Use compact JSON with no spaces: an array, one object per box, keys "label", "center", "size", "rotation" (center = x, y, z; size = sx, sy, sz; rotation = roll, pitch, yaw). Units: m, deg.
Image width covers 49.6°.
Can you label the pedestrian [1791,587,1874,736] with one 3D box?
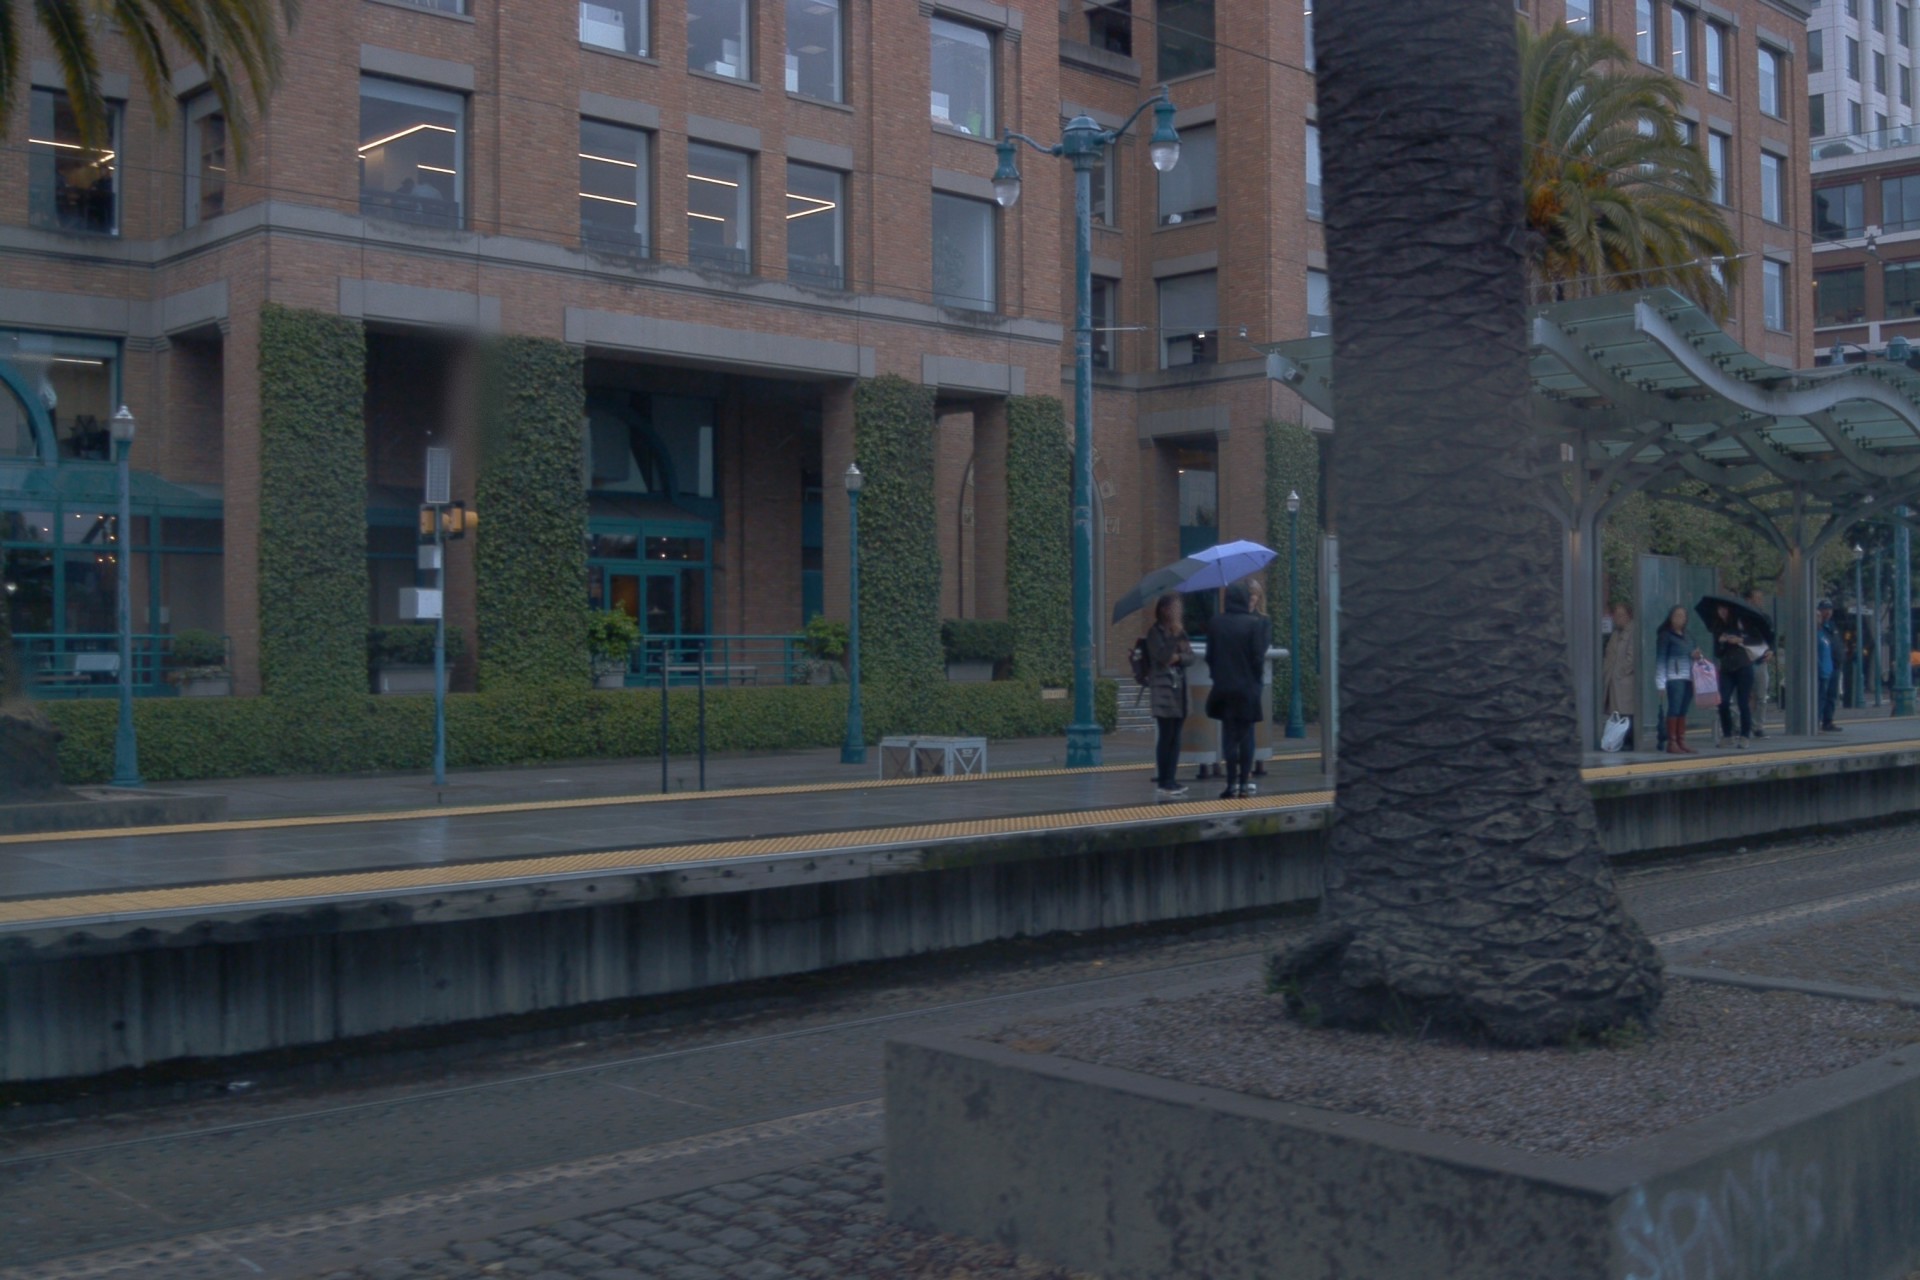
[{"label":"pedestrian","center":[11.510,0.273,27.443],"size":[0.786,1.930,0.696],"rotation":[0,0,-31]}]

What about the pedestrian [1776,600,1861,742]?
[{"label":"pedestrian","center":[11.102,0.393,26.905],"size":[0.786,1.810,0.696],"rotation":[0,0,-31]}]

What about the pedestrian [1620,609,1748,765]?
[{"label":"pedestrian","center":[7.649,0.485,21.998],"size":[0.956,1.600,0.871],"rotation":[0,0,-20]}]

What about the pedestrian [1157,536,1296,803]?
[{"label":"pedestrian","center":[2.144,0.229,16.647],"size":[0.898,2.060,0.994],"rotation":[0,0,20]}]

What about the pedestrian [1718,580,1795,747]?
[{"label":"pedestrian","center":[9.680,0.282,25.292],"size":[0.627,2.008,0.717],"rotation":[0,0,-7]}]

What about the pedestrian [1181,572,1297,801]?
[{"label":"pedestrian","center":[2.095,0.342,15.711],"size":[0.764,1.690,0.770],"rotation":[0,0,-2]}]

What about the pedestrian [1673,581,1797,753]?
[{"label":"pedestrian","center":[8.657,0.295,23.237],"size":[1.061,1.867,0.941],"rotation":[0,0,-45]}]

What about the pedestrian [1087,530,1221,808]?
[{"label":"pedestrian","center":[1.504,0.214,15.952],"size":[0.921,2.050,1.112],"rotation":[0,0,10]}]

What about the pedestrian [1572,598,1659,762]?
[{"label":"pedestrian","center":[7.104,0.420,22.542],"size":[0.717,1.740,0.720],"rotation":[0,0,34]}]
